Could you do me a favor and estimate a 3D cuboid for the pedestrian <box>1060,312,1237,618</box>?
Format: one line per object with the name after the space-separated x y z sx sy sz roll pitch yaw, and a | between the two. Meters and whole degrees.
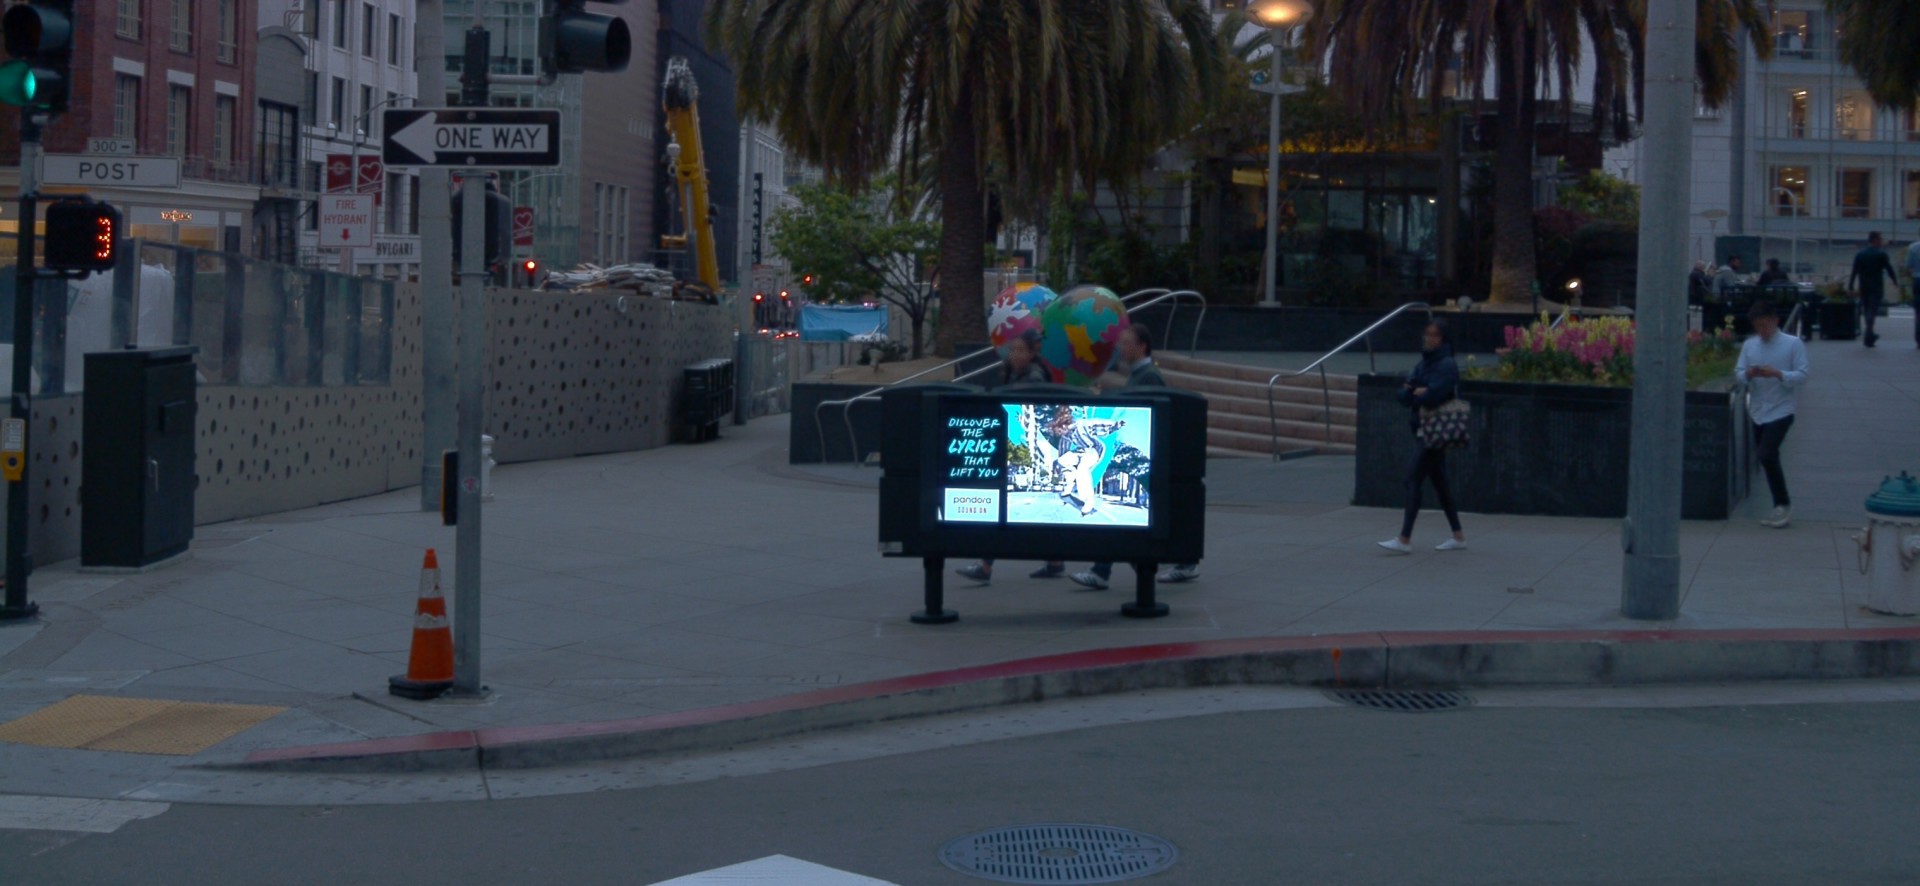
1.175 0.104 13.104 1.000 1.829 1.002 0 1 -2 | pedestrian

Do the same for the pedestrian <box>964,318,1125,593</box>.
0.542 0.047 13.705 1.000 1.719 1.002 0 2 -2 | pedestrian

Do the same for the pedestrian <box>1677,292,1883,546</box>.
6.032 -0.219 15.214 1.001 1.759 1.002 -1 2 -30 | pedestrian

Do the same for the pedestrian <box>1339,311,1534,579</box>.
3.286 -0.024 14.321 1.000 1.749 1.002 0 2 -10 | pedestrian
